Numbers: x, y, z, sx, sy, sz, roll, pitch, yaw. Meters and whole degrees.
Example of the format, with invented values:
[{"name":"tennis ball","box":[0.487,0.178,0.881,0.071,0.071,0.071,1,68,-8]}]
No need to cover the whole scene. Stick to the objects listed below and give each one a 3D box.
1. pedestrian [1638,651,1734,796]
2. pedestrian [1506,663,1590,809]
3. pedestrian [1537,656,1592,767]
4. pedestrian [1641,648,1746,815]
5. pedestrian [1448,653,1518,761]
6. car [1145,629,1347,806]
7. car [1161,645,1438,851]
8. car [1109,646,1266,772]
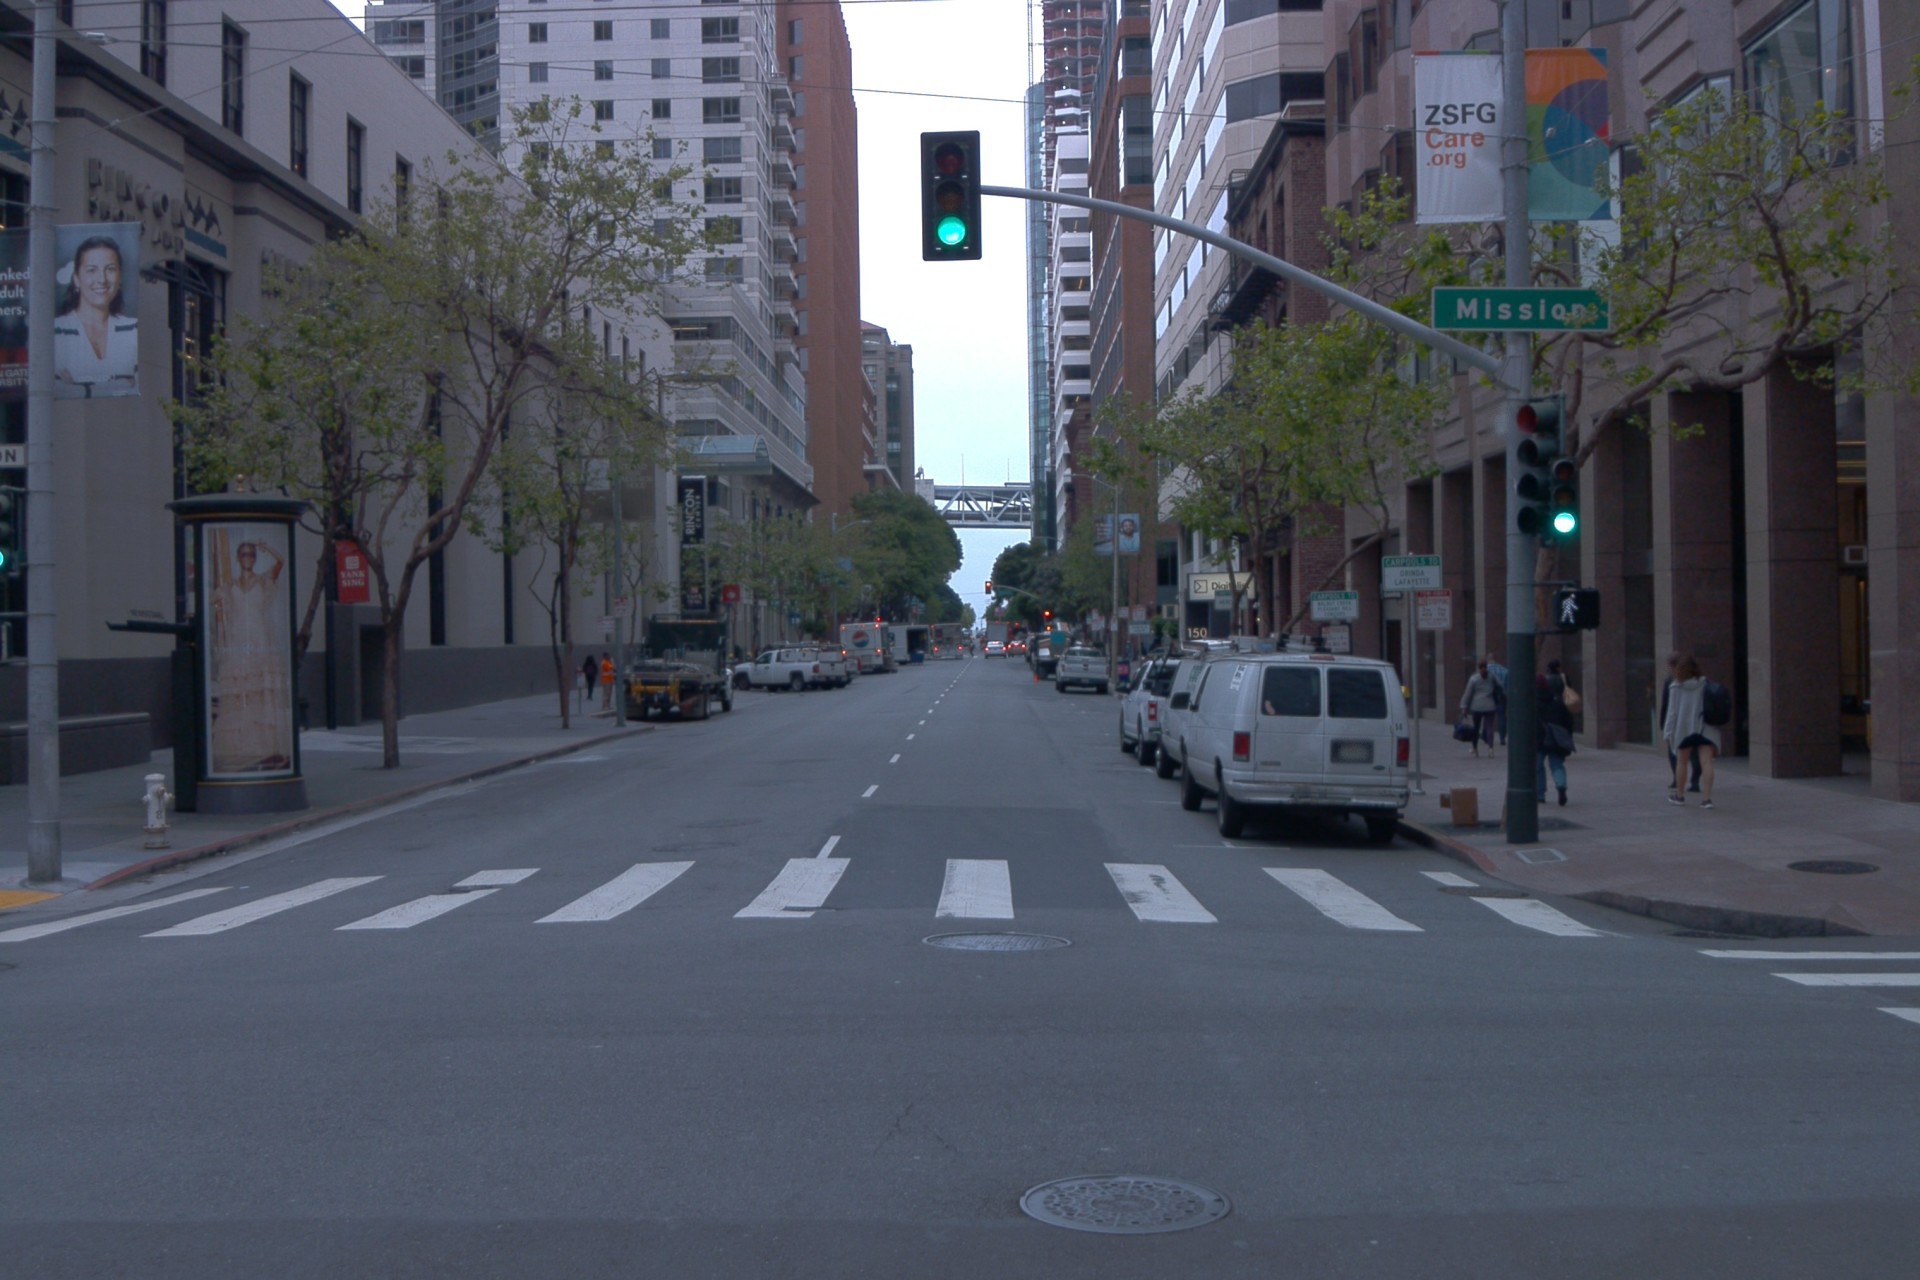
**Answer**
[{"name":"pedestrian","box":[8.932,1.016,25.326,0.856,1.736,0.997,0,1,3]},{"name":"pedestrian","box":[7.098,1.146,24.858,0.757,1.713,0.969,0,1,2]},{"name":"pedestrian","box":[9.258,1.081,31.496,0.668,1.666,0.852,0,1,6]},{"name":"pedestrian","box":[8.369,1.026,23.488,0.843,1.856,0.961,0,1,0]},{"name":"pedestrian","box":[8.426,1.064,33.138,0.919,1.696,0.981,0,1,3]},{"name":"car","box":[4.169,1.049,30.925,2.274,2.380,5.495,0,1,0]},{"name":"car","box":[3.885,1.159,24.655,2.314,2.100,5.501,0,1,-1]},{"name":"car","box":[4.064,1.179,37.629,2.227,2.040,5.528,0,1,0]}]
